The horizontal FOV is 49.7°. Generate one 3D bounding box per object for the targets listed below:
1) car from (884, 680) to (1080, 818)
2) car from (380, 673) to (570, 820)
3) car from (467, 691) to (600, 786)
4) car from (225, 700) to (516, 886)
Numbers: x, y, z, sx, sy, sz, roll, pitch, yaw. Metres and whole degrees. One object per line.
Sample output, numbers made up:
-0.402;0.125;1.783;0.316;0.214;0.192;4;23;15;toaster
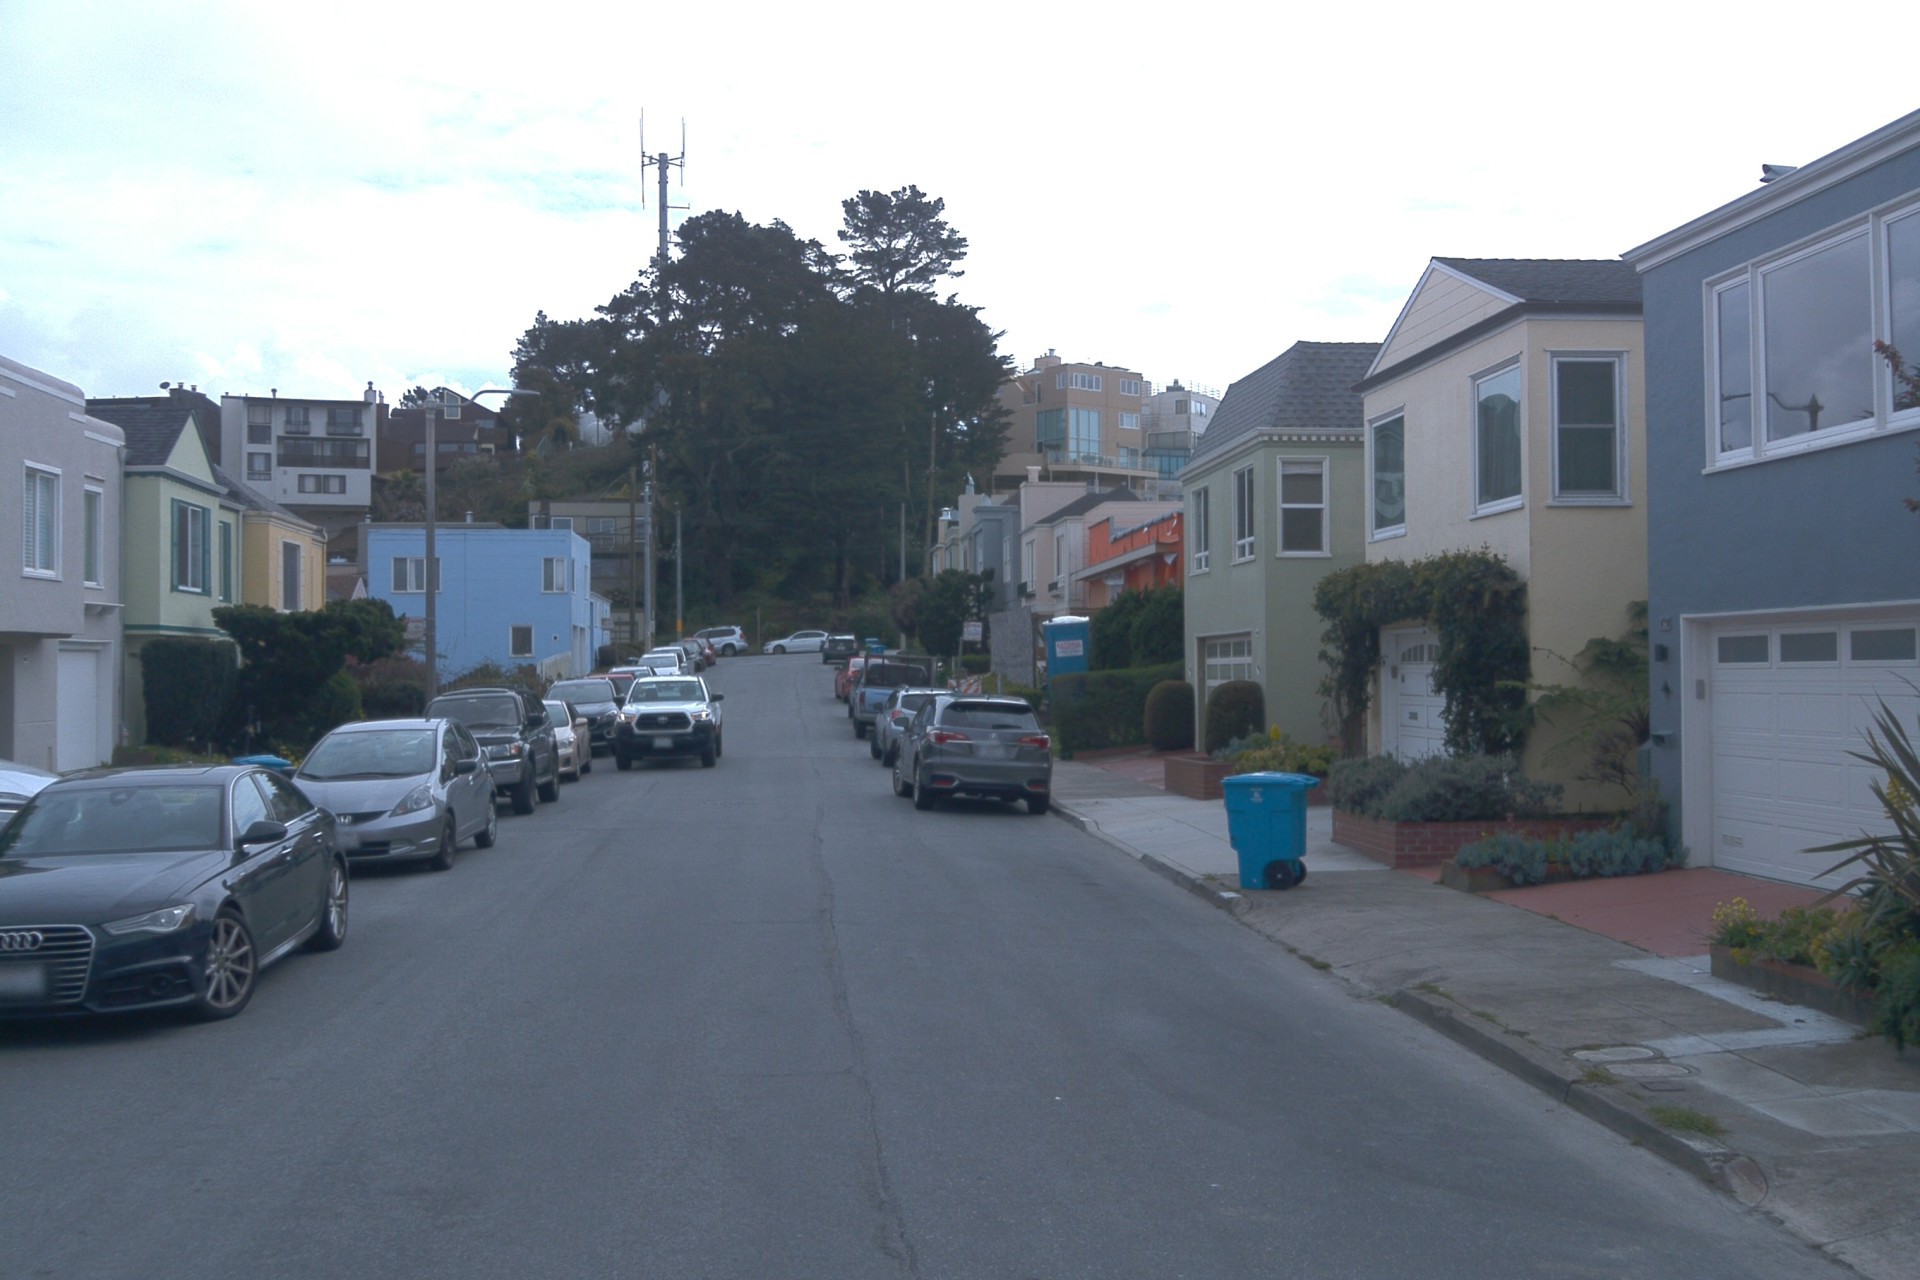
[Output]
0.217;1.497;29.976;2.217;1.770;4.508;0;0;-8;car
-6.823;1.440;29.604;2.004;1.880;4.678;0;0;-5;car
-7.595;1.721;37.256;1.926;1.520;4.514;0;0;-6;car
-6.057;1.512;21.798;2.058;1.660;4.211;0;0;-3;car
